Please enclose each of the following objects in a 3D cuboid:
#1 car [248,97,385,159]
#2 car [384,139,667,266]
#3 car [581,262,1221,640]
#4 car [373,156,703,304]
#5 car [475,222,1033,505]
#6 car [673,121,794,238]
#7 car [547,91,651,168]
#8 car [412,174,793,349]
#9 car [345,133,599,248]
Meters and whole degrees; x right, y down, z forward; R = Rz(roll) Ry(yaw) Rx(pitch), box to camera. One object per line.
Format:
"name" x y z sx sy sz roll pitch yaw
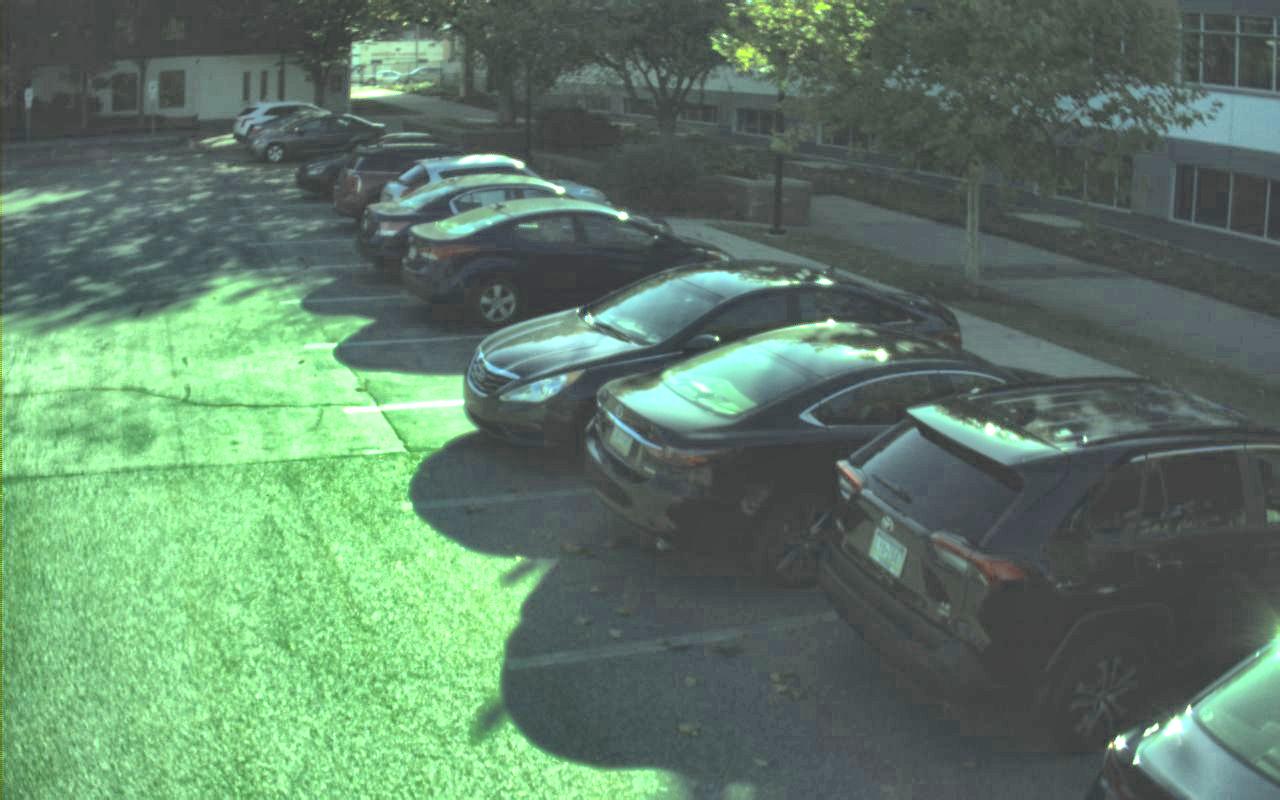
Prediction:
"car" -11.181 -9.356 41.524 4.487 1.663 1.975 -9 18 -25
"car" -1.953 -3.380 20.940 4.405 1.597 1.939 -7 17 -20
"car" 2.039 0.130 8.999 4.478 1.584 1.955 -9 18 -23
"car" -1.534 -2.570 18.302 4.501 1.572 1.958 -7 17 -18
"car" 1.038 -0.496 11.148 4.572 1.600 1.989 -7 17 -20
"car" 2.183 -4.977 27.649 2.147 1.983 4.952 2 17 10
"car" -1.234 -7.621 34.808 2.006 1.722 4.695 -5 17 -12
"car" -0.492 -1.873 16.031 4.491 1.566 1.941 -7 17 -20
"car" -3.200 -3.974 23.237 4.462 1.610 1.958 -7 17 -18
